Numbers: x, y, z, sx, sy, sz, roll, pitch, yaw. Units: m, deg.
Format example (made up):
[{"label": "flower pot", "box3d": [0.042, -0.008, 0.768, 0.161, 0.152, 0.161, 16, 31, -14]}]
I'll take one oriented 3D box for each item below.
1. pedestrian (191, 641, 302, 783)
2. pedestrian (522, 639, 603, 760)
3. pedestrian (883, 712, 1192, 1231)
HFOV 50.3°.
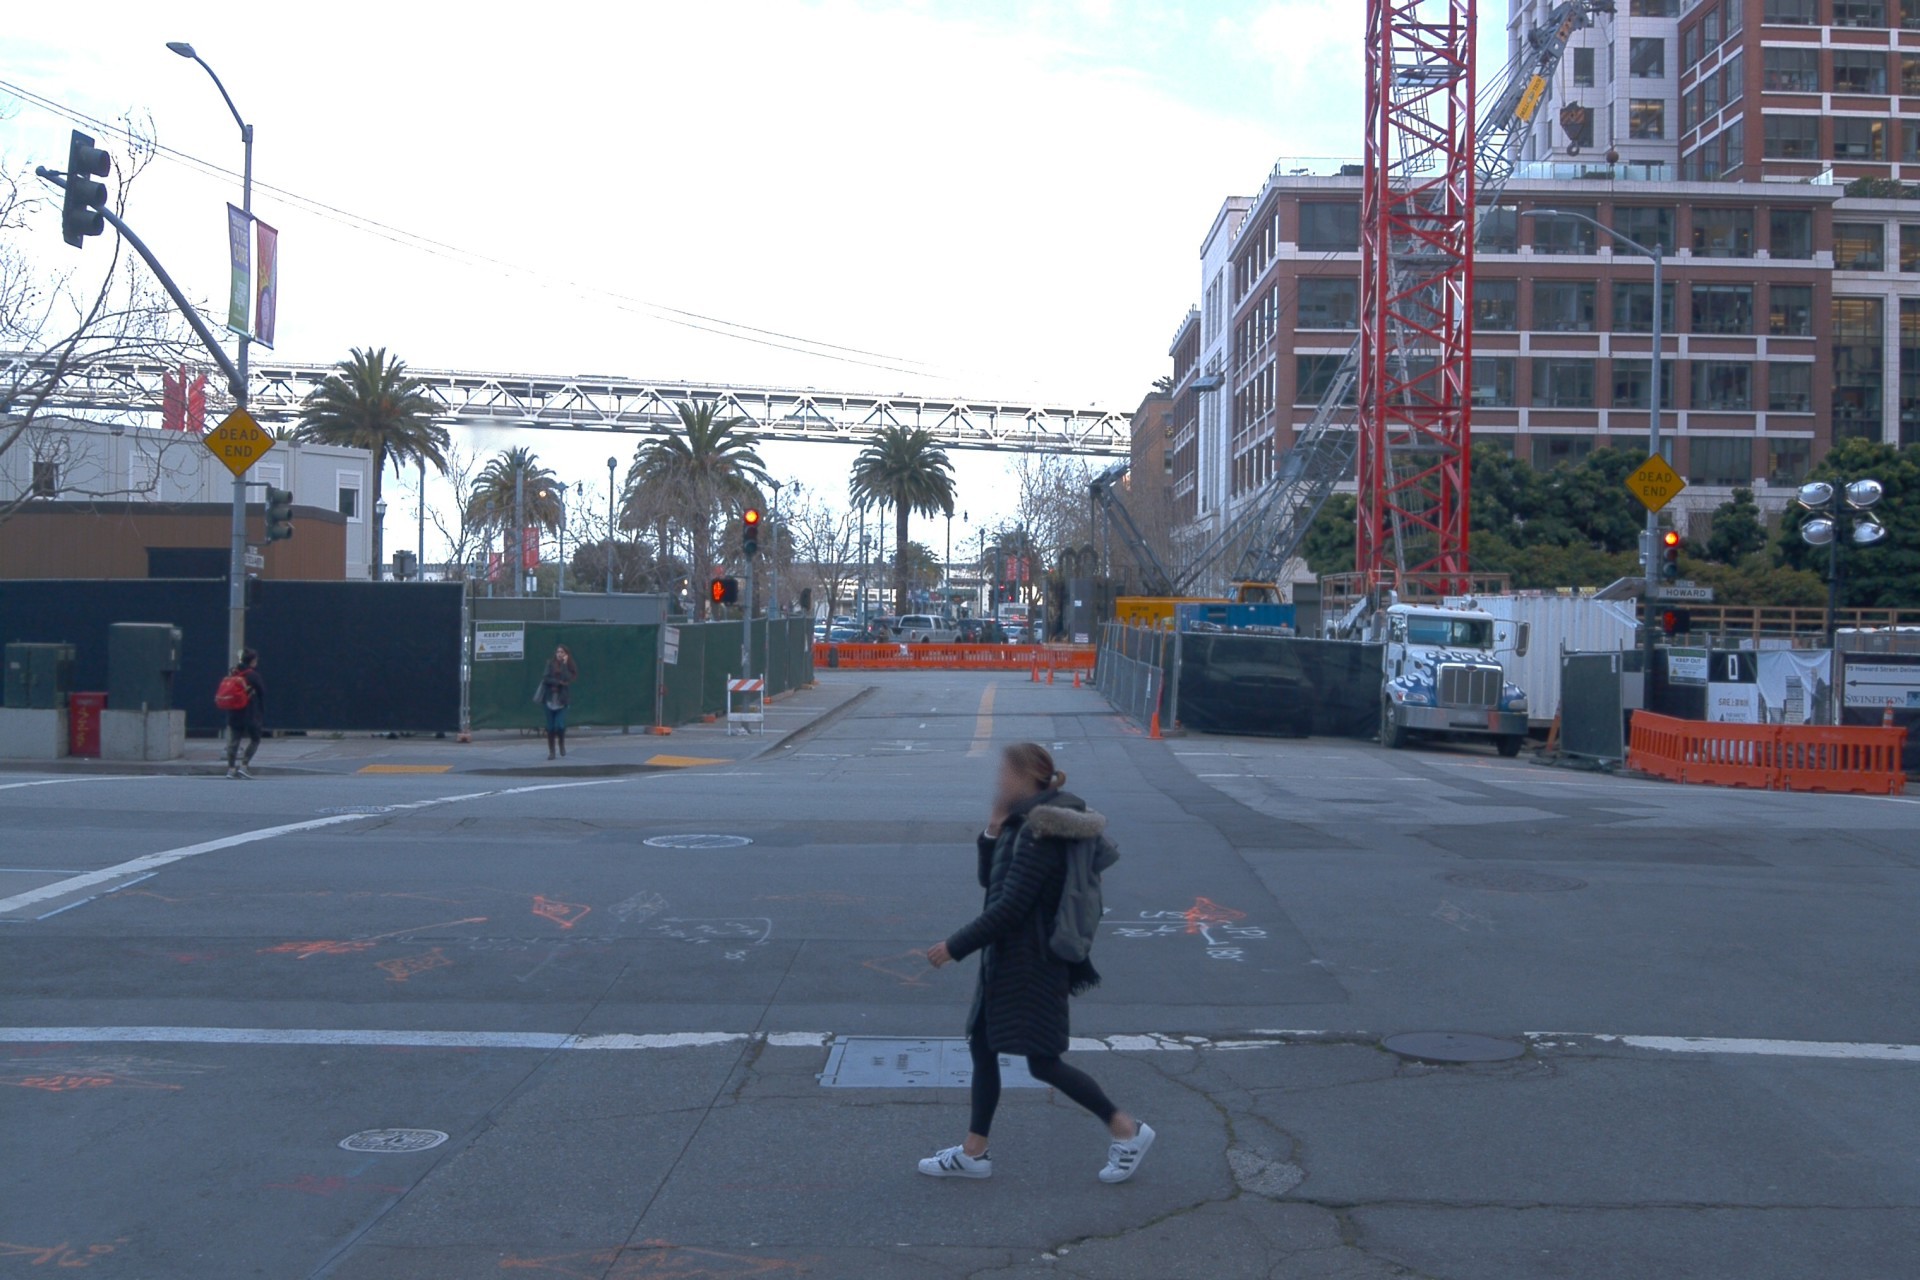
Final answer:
[{"label": "pedestrian", "box3d": [-9.148, 0.898, 26.257, 0.771, 1.760, 1.196, 1, 0, 18]}, {"label": "pedestrian", "box3d": [-5.793, 0.849, 29.818, 0.847, 1.720, 1.092, 1, 0, 7]}, {"label": "pedestrian", "box3d": [0.275, 1.197, 7.700, 1.088, 1.810, 0.806, 1, 0, 0]}]
